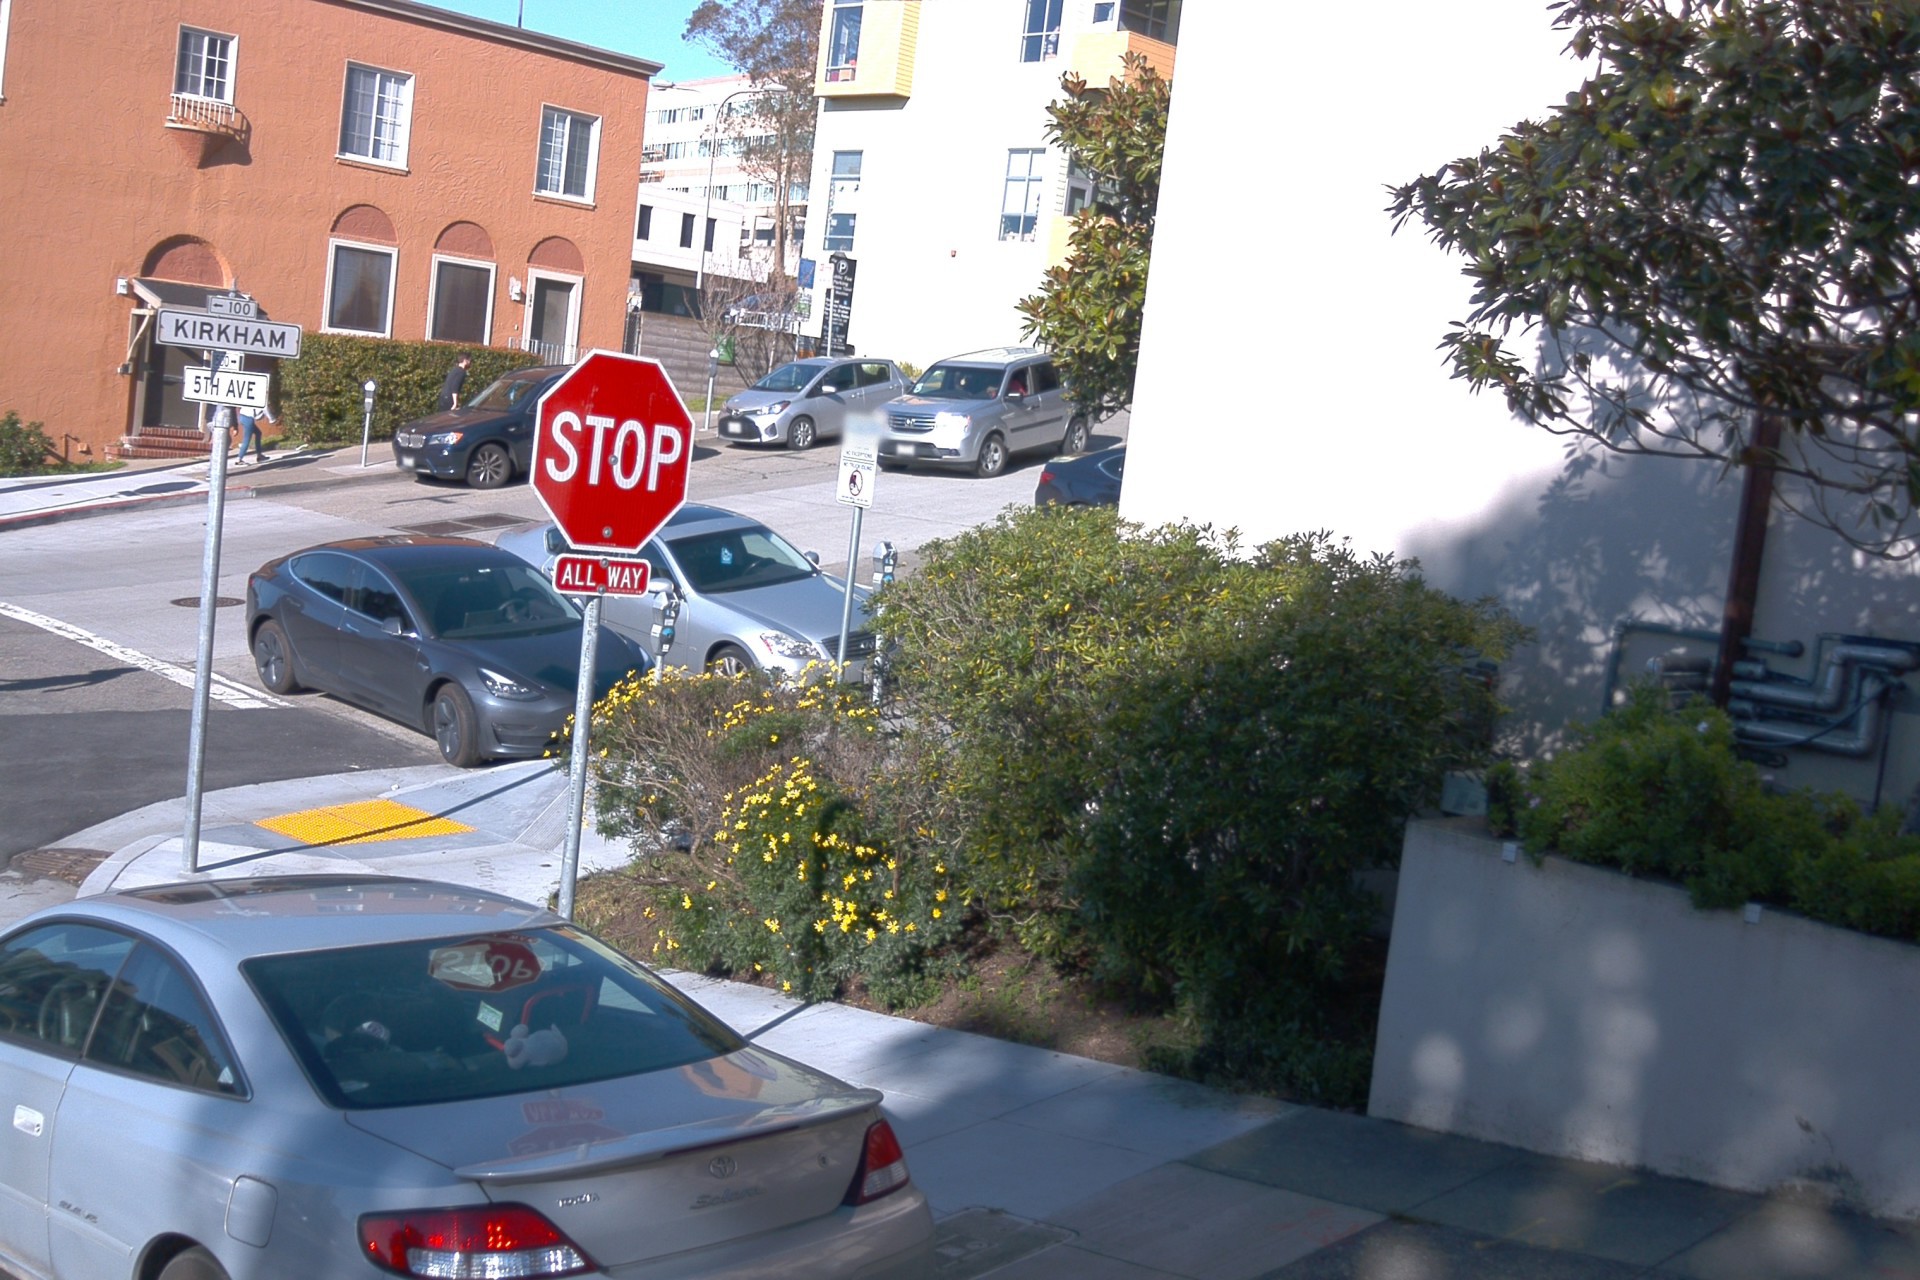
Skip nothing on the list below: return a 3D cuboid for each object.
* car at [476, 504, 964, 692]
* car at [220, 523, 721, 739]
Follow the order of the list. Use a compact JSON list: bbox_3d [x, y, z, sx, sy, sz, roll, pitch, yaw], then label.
[{"bbox_3d":[-2.347,-0.351,19.736,4.561,1.560,2.064,0,0,42],"label":"car"},{"bbox_3d":[-4.328,-0.065,18.067,4.636,1.620,2.044,0,0,45],"label":"car"}]
